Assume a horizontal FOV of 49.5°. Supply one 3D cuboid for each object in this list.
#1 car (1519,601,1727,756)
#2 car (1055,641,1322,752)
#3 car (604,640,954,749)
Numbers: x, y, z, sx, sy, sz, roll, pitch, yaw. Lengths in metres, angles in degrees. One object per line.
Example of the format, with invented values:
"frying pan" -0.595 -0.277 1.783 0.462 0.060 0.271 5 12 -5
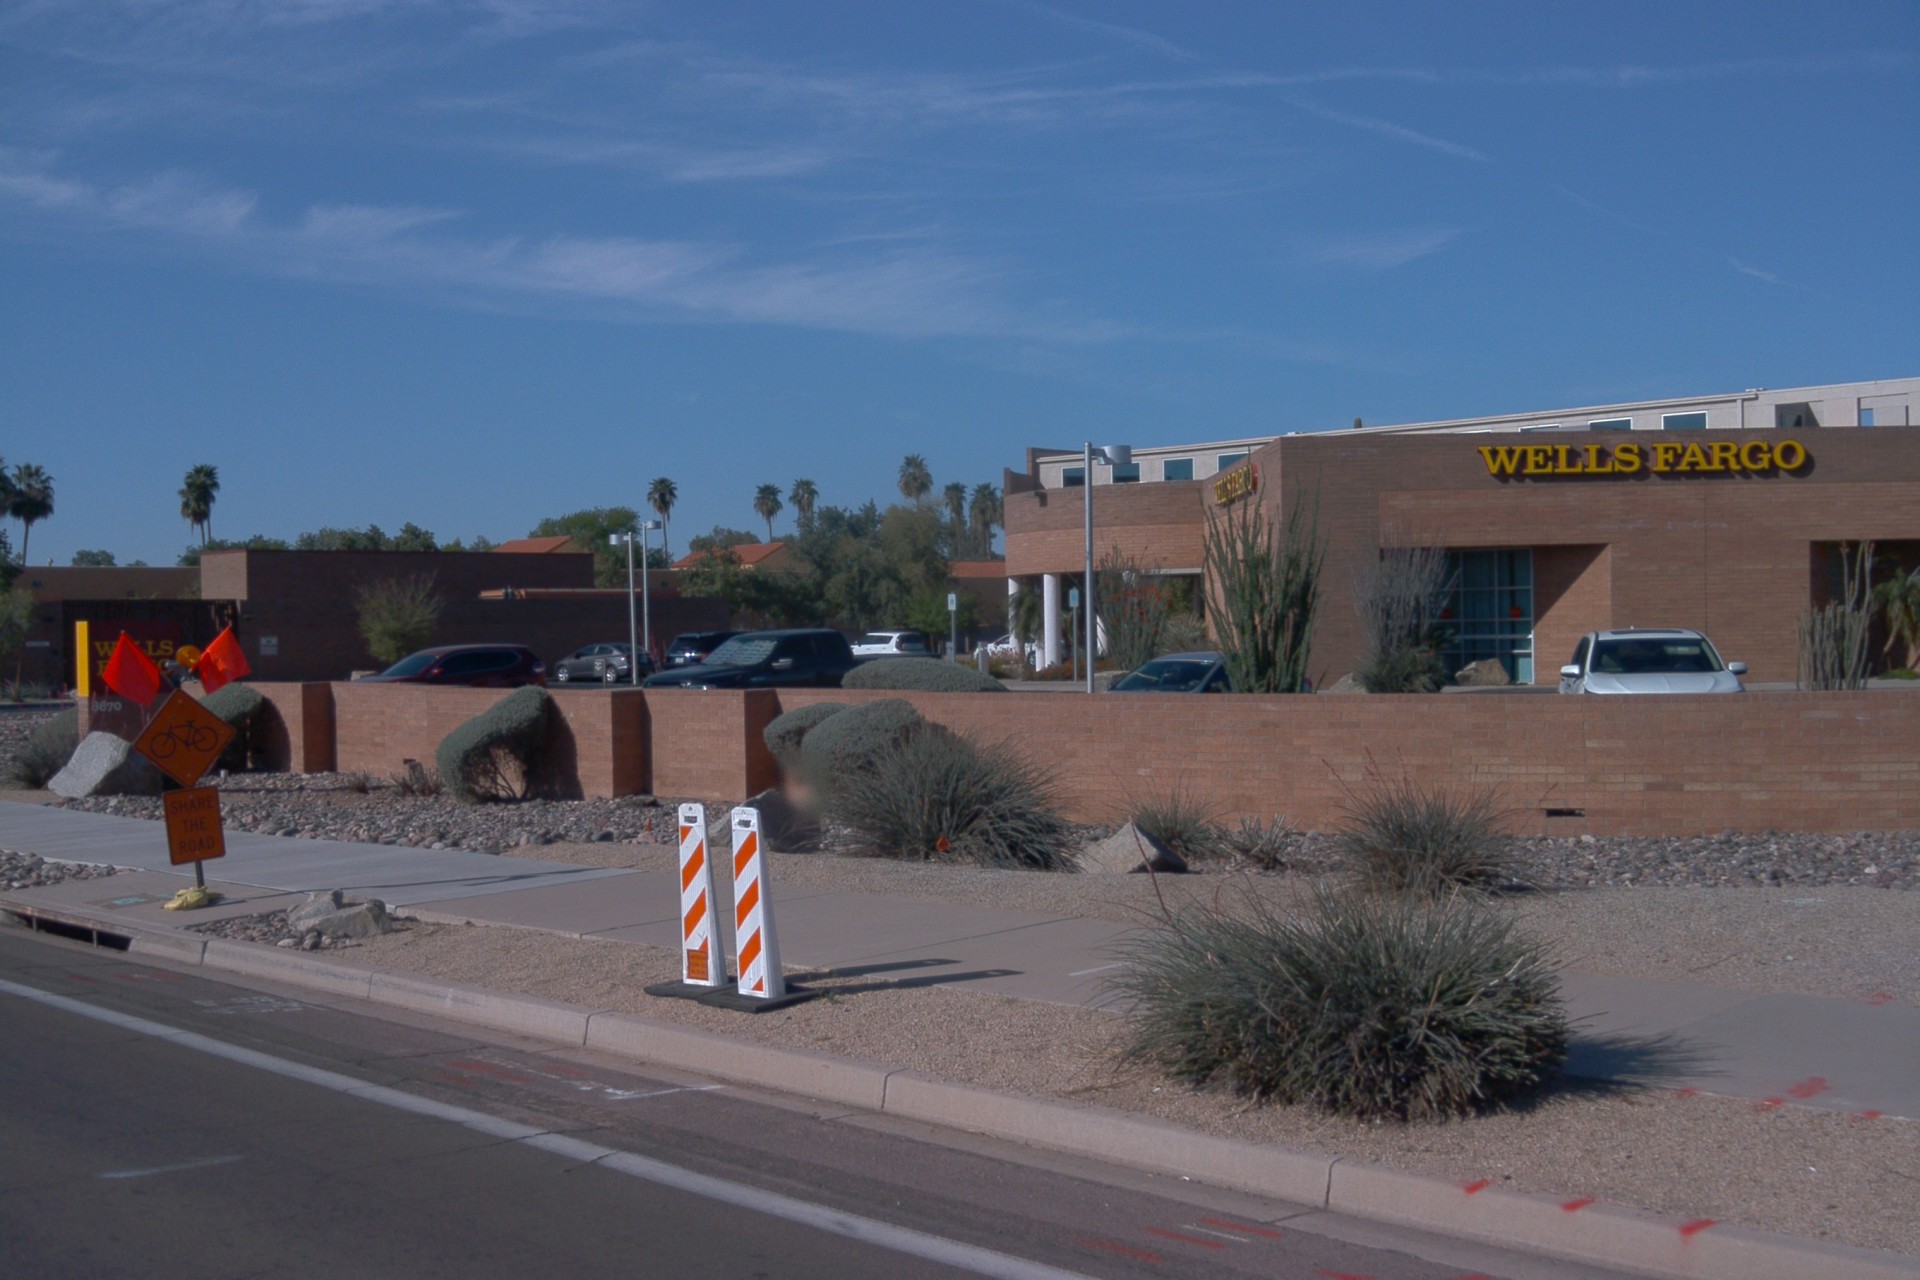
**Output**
"car" 8.617 0.489 27.439 2.338 1.860 4.569 0 -1 15
"car" 3.485 0.805 31.126 1.993 1.546 4.256 -1 -1 39
"car" -3.087 0.905 36.531 5.838 1.770 2.459 0 -1 -43
